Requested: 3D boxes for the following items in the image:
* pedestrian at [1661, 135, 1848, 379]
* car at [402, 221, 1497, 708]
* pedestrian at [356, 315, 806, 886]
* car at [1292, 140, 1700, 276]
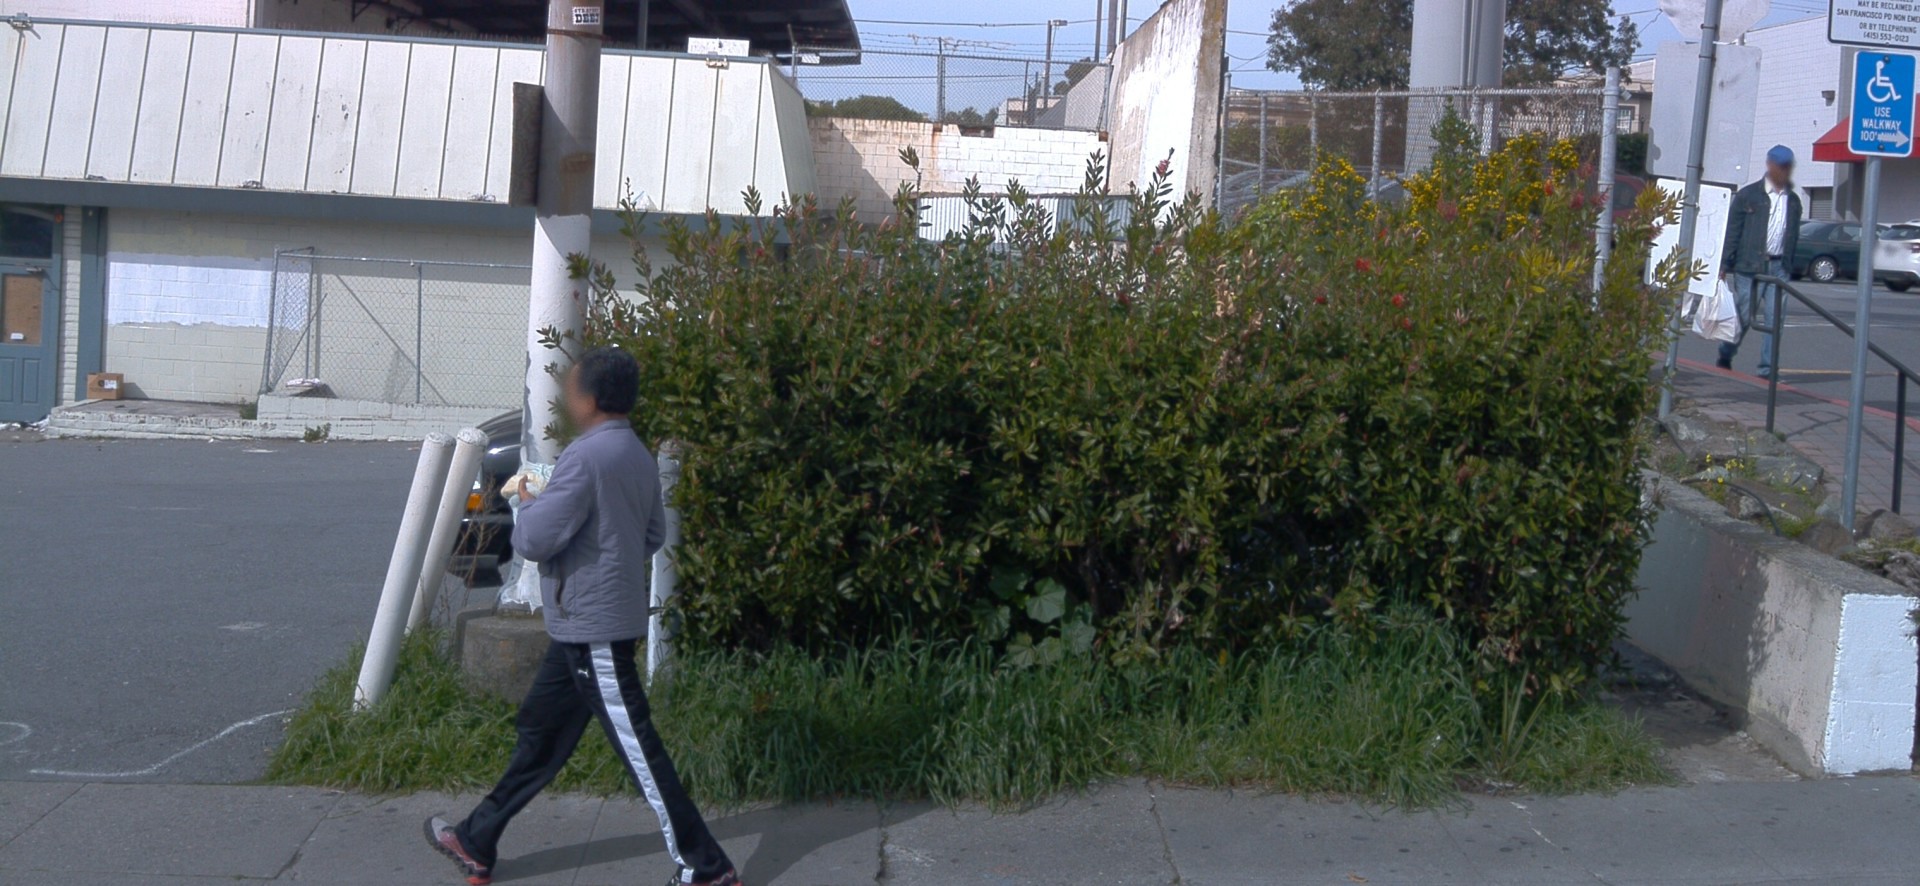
[{"bbox_3d":[5.635,-1.329,14.698,1.009,1.670,0.952,0,1,4],"label":"pedestrian"},{"bbox_3d":[-0.061,-0.016,10.045,4.799,2.108,2.006,0,3,-2],"label":"car"},{"bbox_3d":[-1.082,0.513,6.125,1.075,1.744,0.945,0,1,7],"label":"pedestrian"},{"bbox_3d":[6.978,-3.081,27.246,4.792,1.717,2.140,0,3,-3],"label":"car"}]
